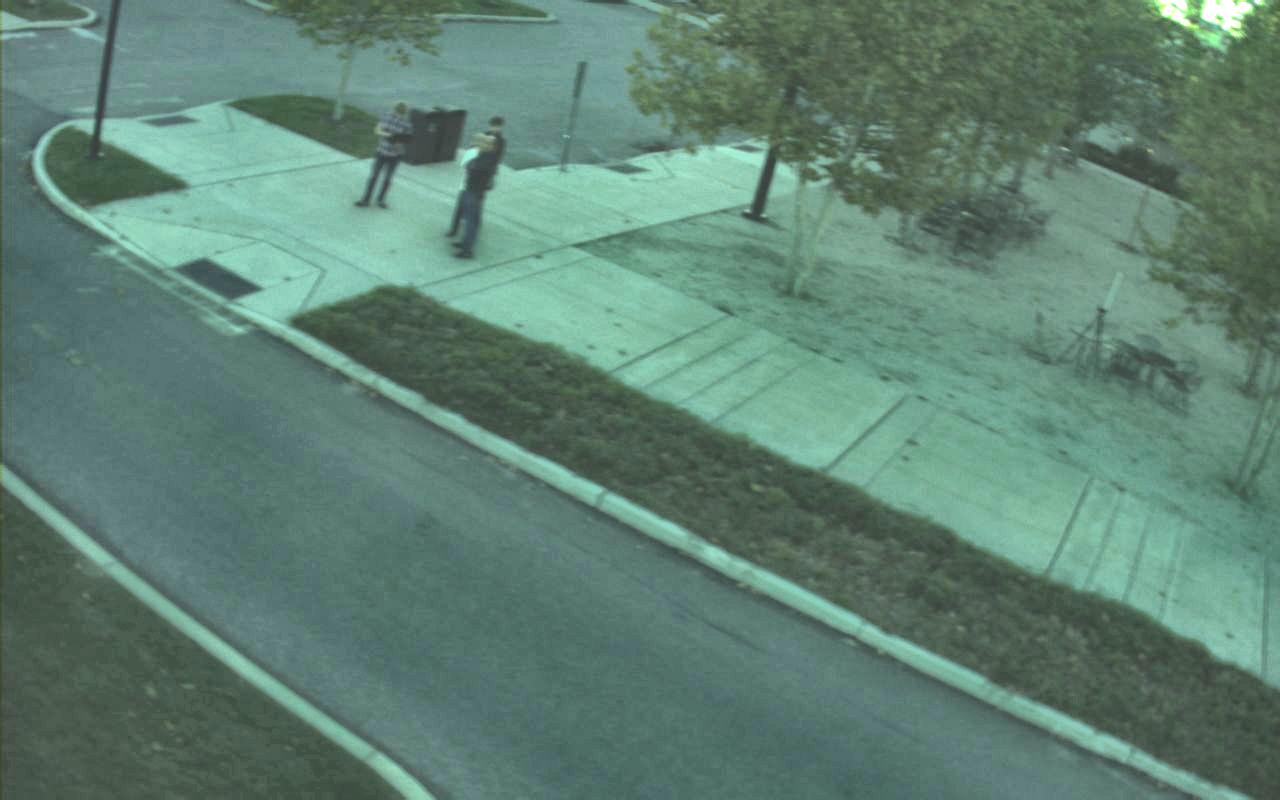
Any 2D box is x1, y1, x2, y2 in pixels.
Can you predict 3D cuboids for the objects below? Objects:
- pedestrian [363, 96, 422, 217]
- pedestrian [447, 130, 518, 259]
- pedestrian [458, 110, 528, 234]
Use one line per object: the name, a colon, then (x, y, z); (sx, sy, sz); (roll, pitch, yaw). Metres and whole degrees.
pedestrian: (-3.951, -3.882, 19.587); (0.778, 1.835, 0.806); (-2, 15, -3)
pedestrian: (-2.324, -3.050, 18.441); (0.786, 1.814, 0.768); (2, 15, 11)
pedestrian: (-2.344, -3.635, 19.752); (0.798, 1.852, 0.830); (-10, 17, -29)
